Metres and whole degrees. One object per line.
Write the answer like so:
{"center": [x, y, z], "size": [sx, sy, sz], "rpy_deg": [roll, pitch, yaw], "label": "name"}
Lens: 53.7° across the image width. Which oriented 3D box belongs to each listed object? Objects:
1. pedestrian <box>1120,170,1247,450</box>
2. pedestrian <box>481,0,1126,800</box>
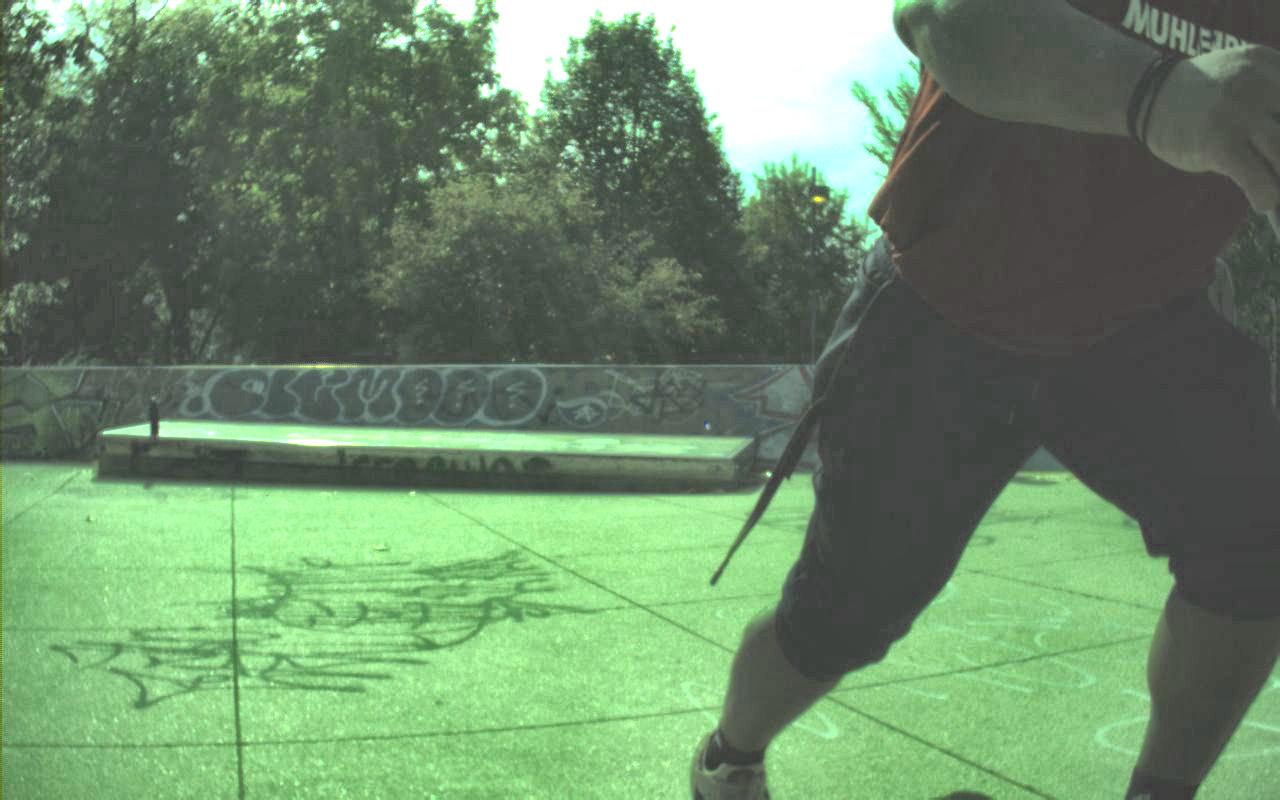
{"center": [3.732, -0.580, 7.931], "size": [0.777, 1.819, 0.776], "rpy_deg": [1, 0, 37], "label": "pedestrian"}
{"center": [0.297, -0.120, 1.547], "size": [0.721, 1.721, 0.765], "rpy_deg": [1, 0, 23], "label": "pedestrian"}
